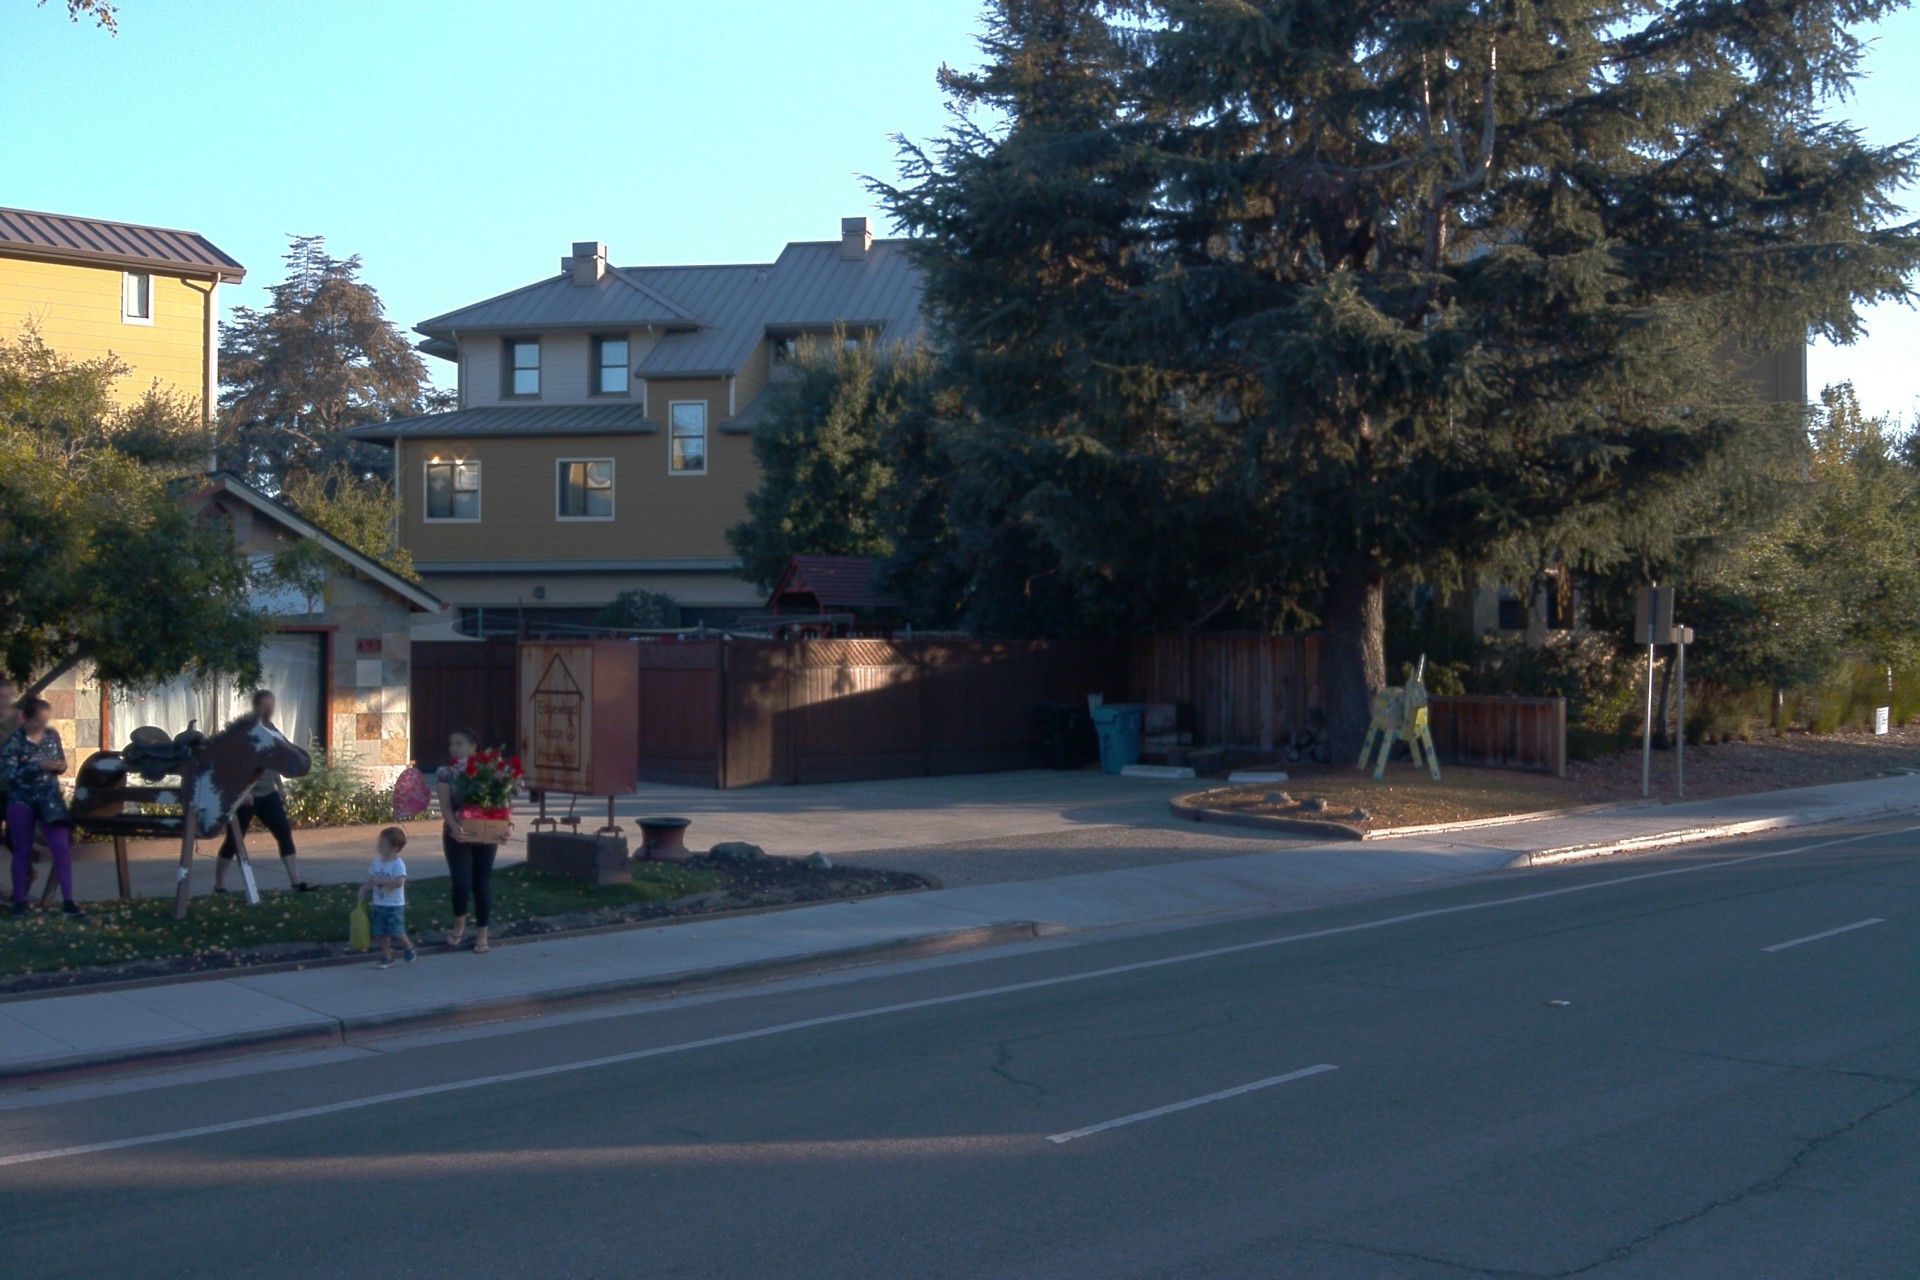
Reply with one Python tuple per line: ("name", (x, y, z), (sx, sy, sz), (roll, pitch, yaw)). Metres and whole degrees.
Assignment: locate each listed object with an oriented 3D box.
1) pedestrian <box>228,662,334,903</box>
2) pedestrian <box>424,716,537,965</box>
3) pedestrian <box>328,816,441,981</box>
("pedestrian", (-5.323, 1.085, 16.231), (0.751, 1.810, 0.814), (0, 0, -20))
("pedestrian", (-3.351, 1.372, 14.531), (0.734, 1.630, 0.996), (0, 0, -12))
("pedestrian", (-3.844, 1.719, 13.879), (0.625, 1.010, 0.635), (0, 0, -6))
